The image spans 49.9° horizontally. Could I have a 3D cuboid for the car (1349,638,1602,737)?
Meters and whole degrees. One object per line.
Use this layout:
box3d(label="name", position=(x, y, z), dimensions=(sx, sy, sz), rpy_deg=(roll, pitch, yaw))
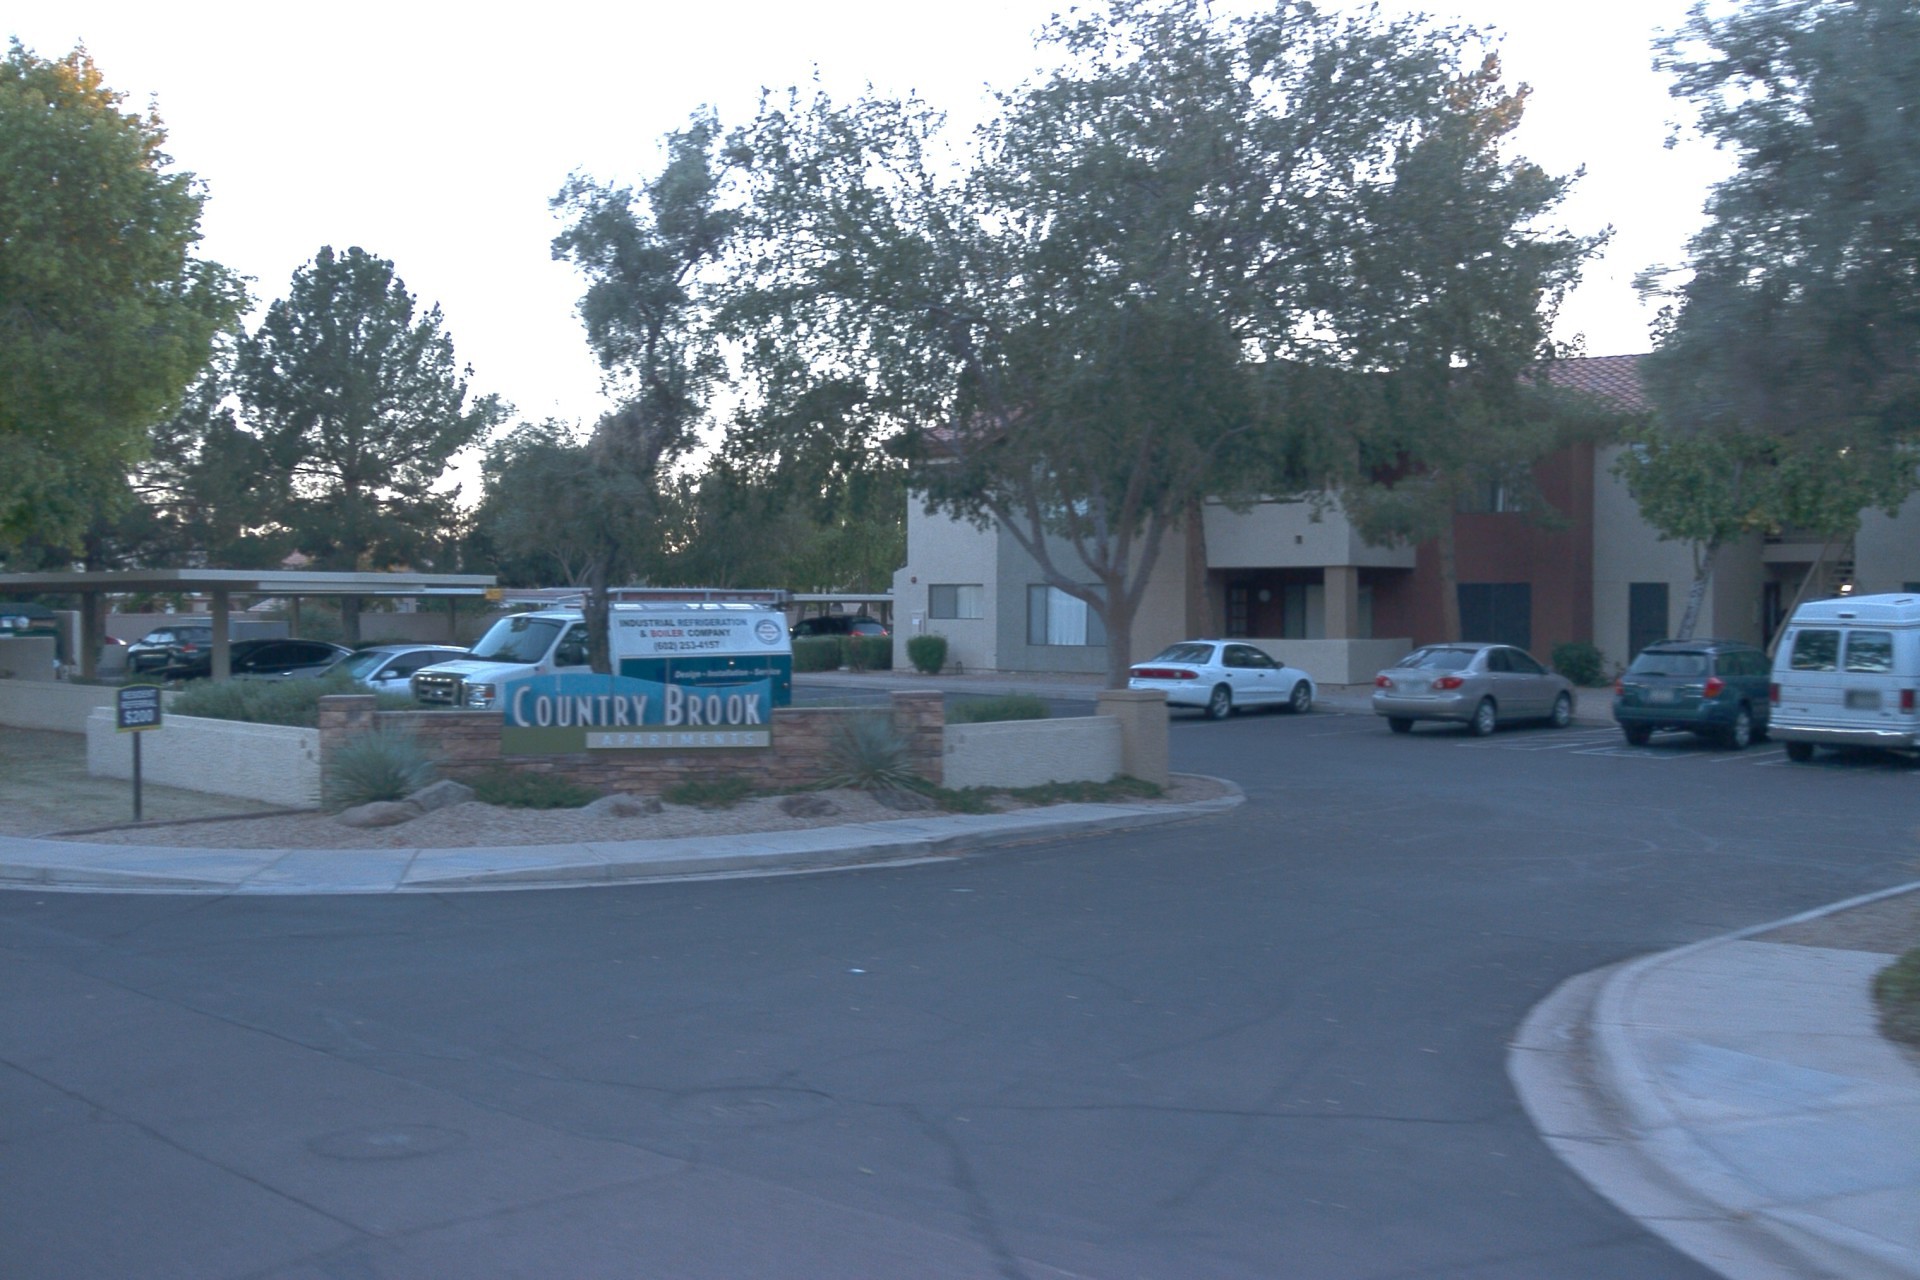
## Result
box3d(label="car", position=(8.598, 0.760, 34.207), dimensions=(2.036, 1.500, 4.666), rpy_deg=(1, 0, 43))

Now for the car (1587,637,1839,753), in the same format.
box3d(label="car", position=(11.527, 0.804, 31.426), dimensions=(2.050, 1.620, 4.604), rpy_deg=(1, 0, 41))

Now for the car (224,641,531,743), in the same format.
box3d(label="car", position=(-9.318, 0.809, 33.234), dimensions=(1.971, 1.520, 4.331), rpy_deg=(1, 0, 45))

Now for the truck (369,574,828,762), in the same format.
box3d(label="truck", position=(-5.132, 0.391, 30.127), dimensions=(2.721, 2.450, 6.153), rpy_deg=(1, 0, 43))

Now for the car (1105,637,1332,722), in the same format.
box3d(label="car", position=(4.808, 0.709, 37.993), dimensions=(1.973, 1.440, 4.431), rpy_deg=(1, 0, 42))
